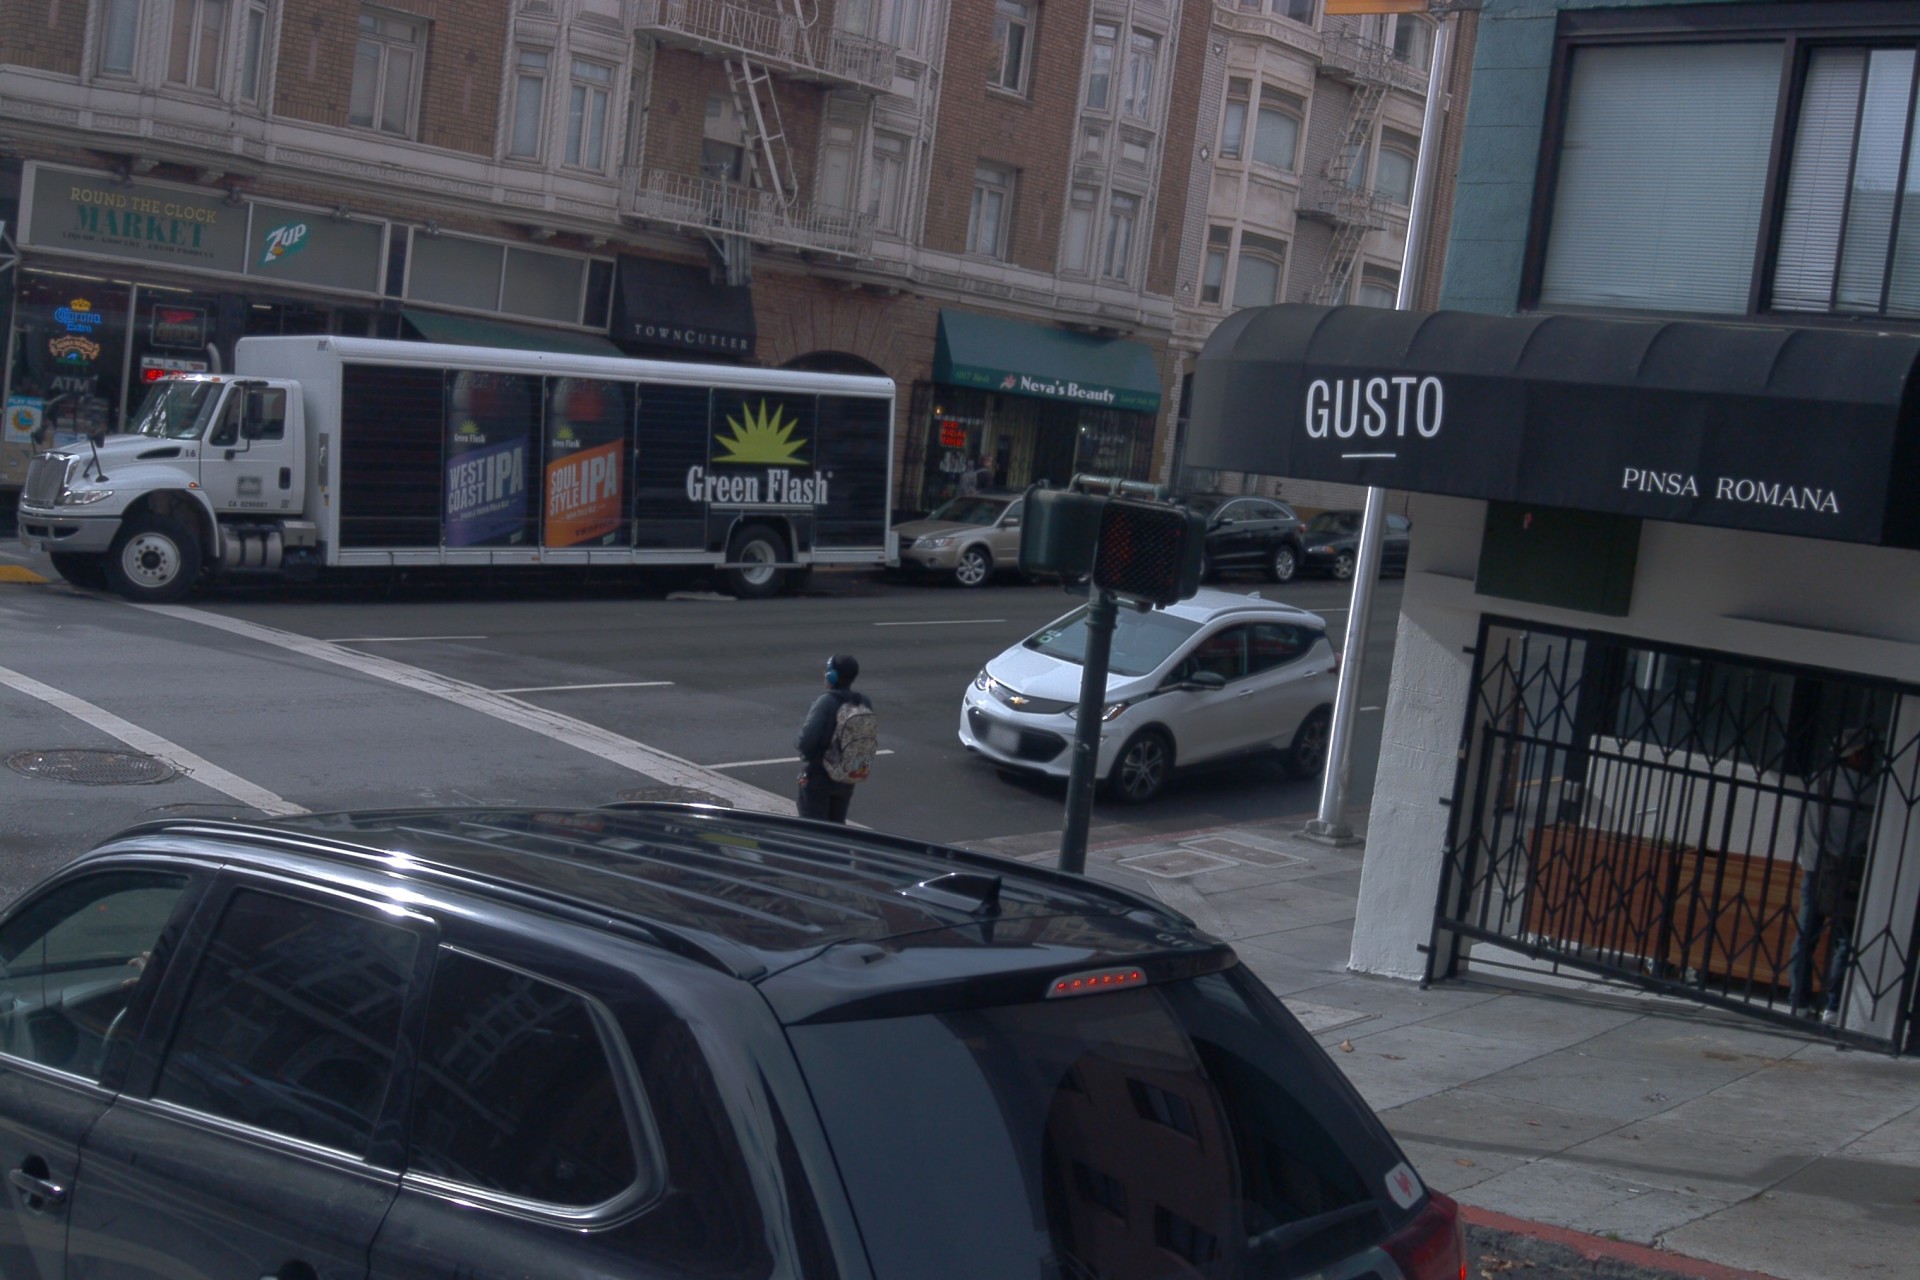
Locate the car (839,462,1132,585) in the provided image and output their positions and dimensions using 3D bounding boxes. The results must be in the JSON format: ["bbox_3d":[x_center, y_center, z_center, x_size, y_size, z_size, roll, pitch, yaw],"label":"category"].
[{"bbox_3d":[0.505,-1.853,34.139,2.182,1.770,4.833,2,1,42],"label":"car"}]

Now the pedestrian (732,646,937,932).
[{"bbox_3d":[-0.746,0.844,12.204,0.929,1.590,0.750,2,1,43],"label":"pedestrian"}]

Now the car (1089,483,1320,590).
[{"bbox_3d":[4.507,-1.830,37.579,1.888,1.740,4.436,2,1,43],"label":"car"}]

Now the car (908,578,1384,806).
[{"bbox_3d":[1.764,0.395,18.396,2.062,1.780,4.279,2,1,42],"label":"car"}]
